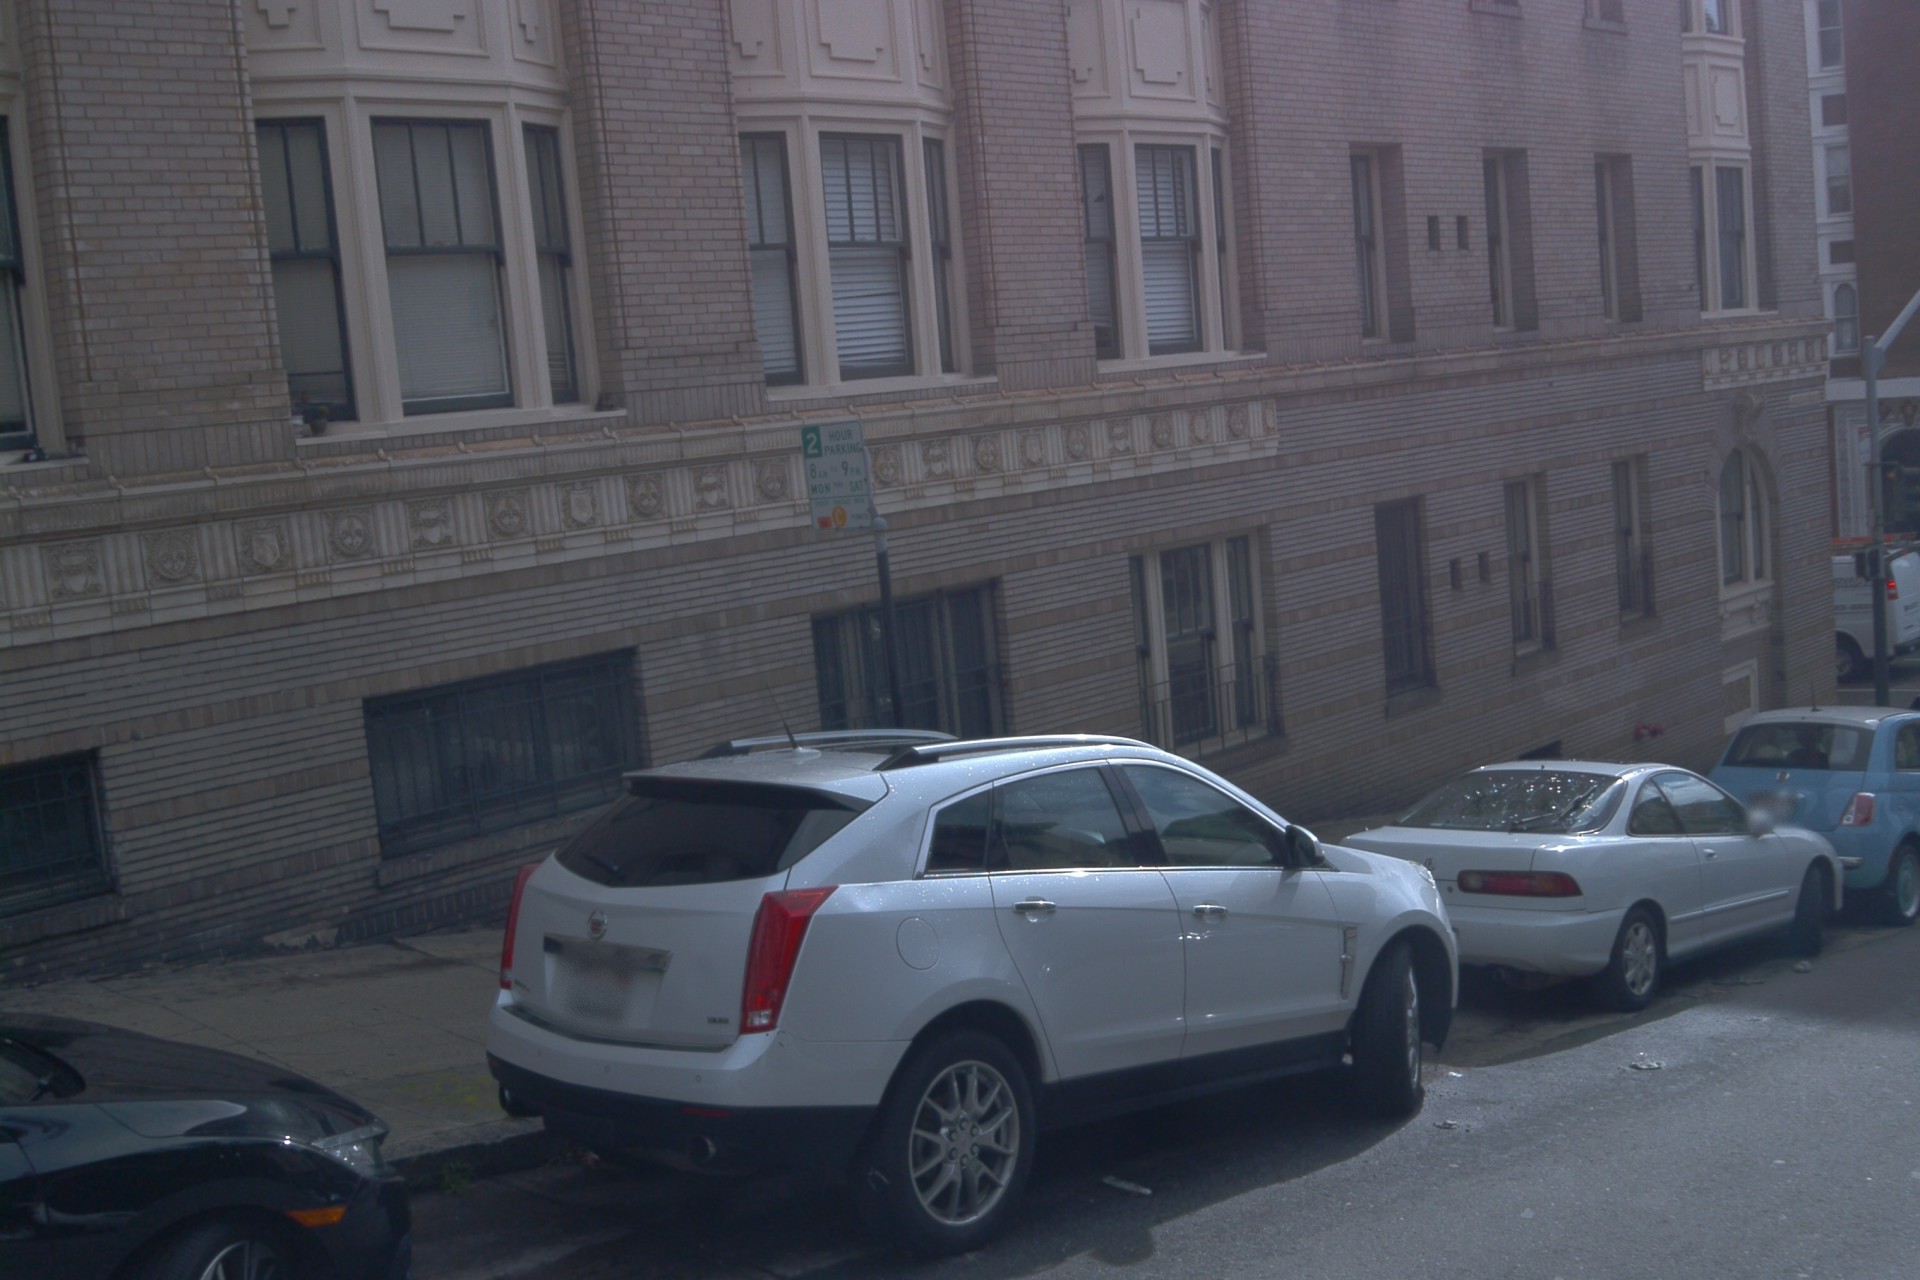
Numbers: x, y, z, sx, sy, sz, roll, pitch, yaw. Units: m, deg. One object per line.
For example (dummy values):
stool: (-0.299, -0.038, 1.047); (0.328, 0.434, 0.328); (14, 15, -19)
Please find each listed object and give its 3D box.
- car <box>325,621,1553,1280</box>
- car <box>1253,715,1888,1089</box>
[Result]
car: (0.199, 1.124, 8.270); (2.230, 2.330, 4.792); (2, 1, 44)
car: (3.859, 1.399, 12.456); (1.954, 1.670, 4.260); (2, 1, 44)
